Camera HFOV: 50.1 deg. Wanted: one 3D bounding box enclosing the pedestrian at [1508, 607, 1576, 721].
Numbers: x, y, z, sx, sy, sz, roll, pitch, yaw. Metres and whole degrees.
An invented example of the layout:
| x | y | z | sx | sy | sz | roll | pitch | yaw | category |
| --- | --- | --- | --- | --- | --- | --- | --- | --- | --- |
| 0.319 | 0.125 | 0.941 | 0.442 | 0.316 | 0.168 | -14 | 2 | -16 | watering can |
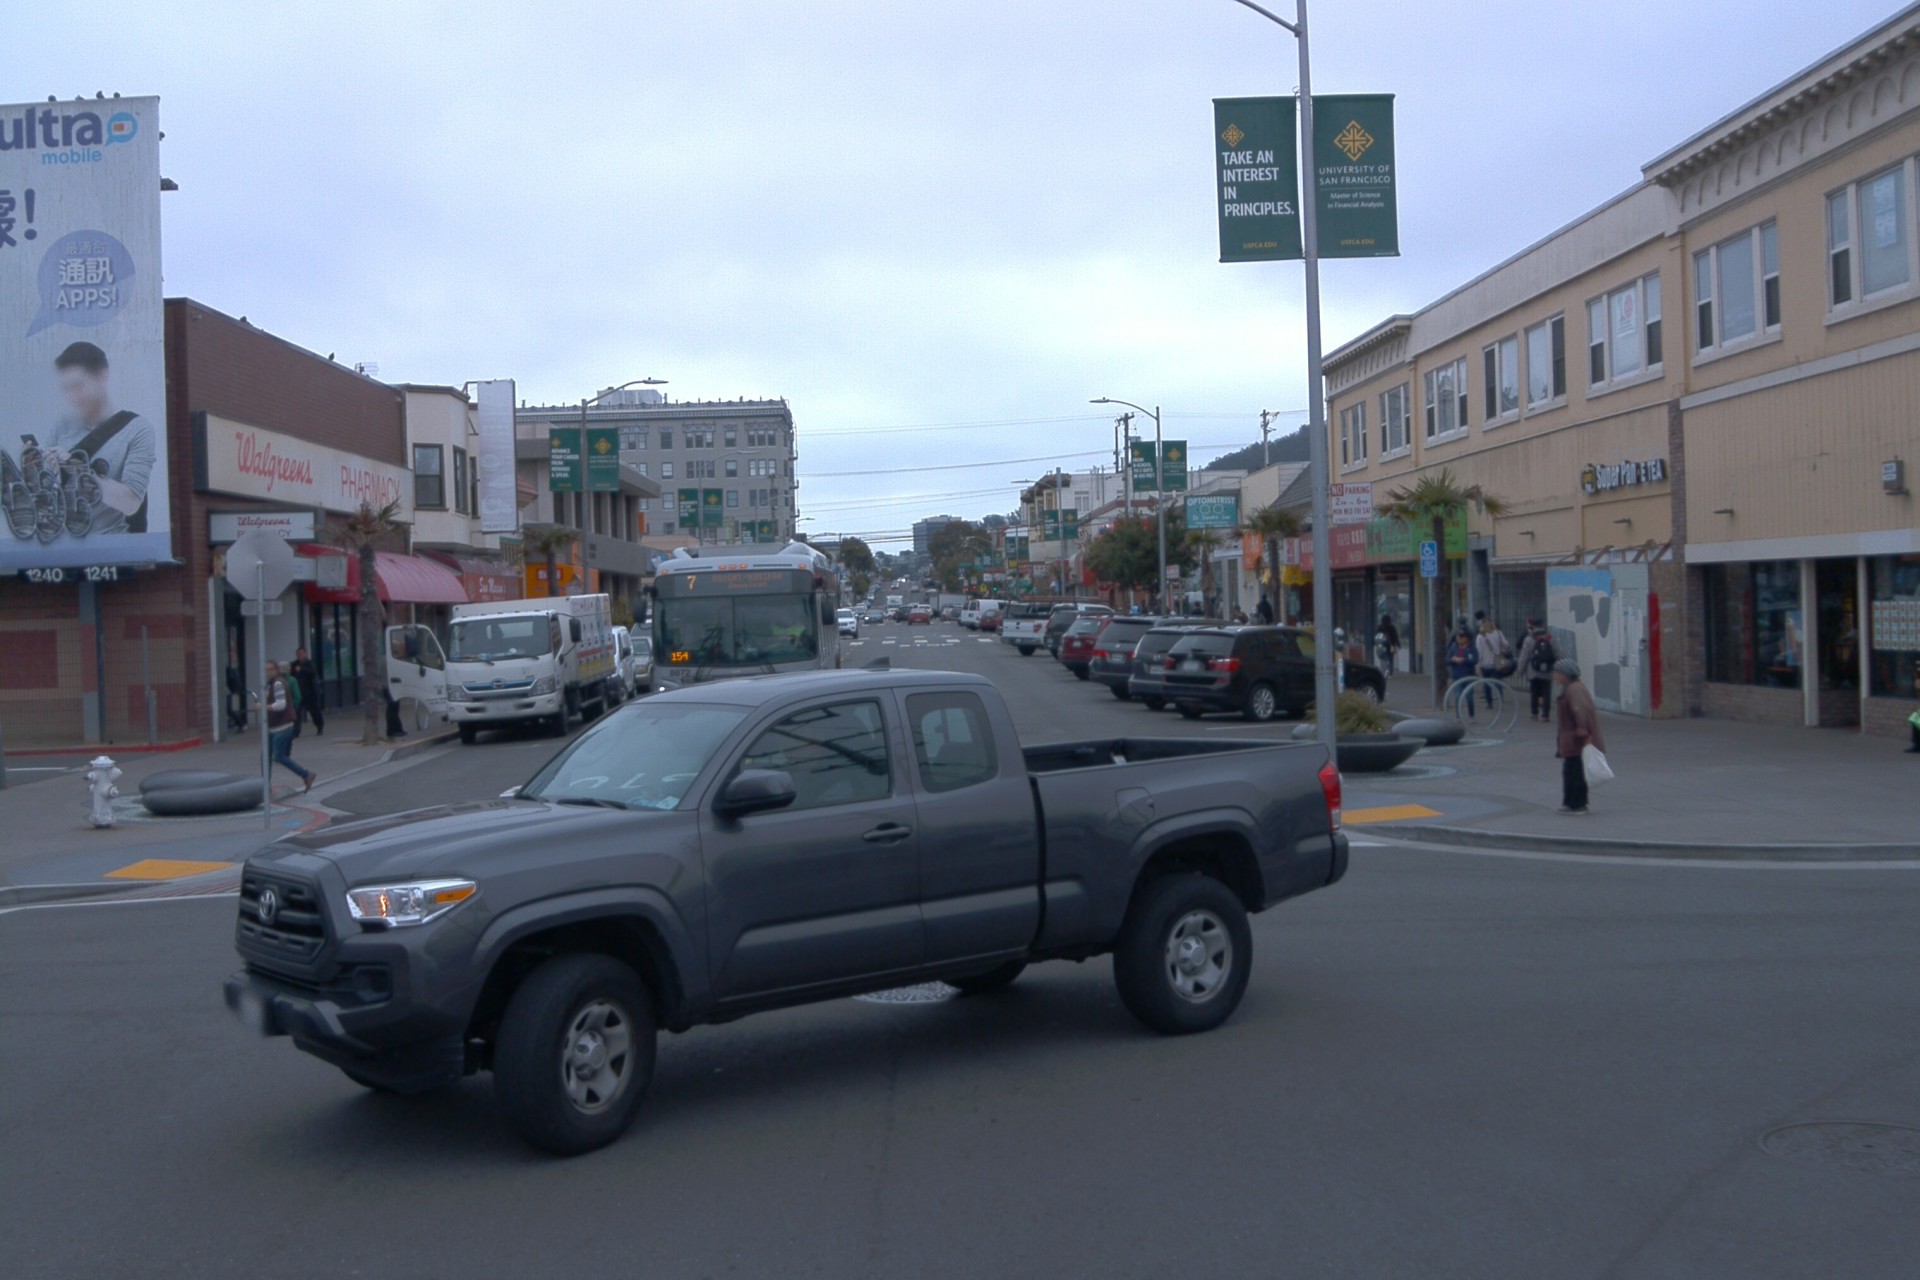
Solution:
| x | y | z | sx | sy | sz | roll | pitch | yaw | category |
| --- | --- | --- | --- | --- | --- | --- | --- | --- | --- |
| 9.220 | 0.364 | 32.590 | 0.925 | 1.770 | 0.948 | 0 | 1 | 9 | pedestrian |

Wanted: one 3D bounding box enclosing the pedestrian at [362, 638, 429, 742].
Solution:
| x | y | z | sx | sy | sz | roll | pitch | yaw | category |
| --- | --- | --- | --- | --- | --- | --- | --- | --- | --- |
| -10.175 | 0.896 | 37.107 | 0.945 | 1.830 | 0.918 | 0 | 1 | 0 | pedestrian |

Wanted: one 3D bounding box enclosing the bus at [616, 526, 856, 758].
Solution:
| x | y | z | sx | sy | sz | roll | pitch | yaw | category |
| --- | --- | --- | --- | --- | --- | --- | --- | --- | --- |
| -3.696 | -0.066 | 37.275 | 3.213 | 3.480 | 12.597 | 0 | 1 | -1 | bus |

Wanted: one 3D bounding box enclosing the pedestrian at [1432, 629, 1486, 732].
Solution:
| x | y | z | sx | sy | sz | roll | pitch | yaw | category |
| --- | --- | --- | --- | --- | --- | --- | --- | --- | --- |
| 7.928 | 0.626 | 32.645 | 0.750 | 1.598 | 0.775 | 0 | 1 | 21 | pedestrian |

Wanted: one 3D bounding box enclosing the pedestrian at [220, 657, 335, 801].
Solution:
| x | y | z | sx | sy | sz | roll | pitch | yaw | category |
| --- | --- | --- | --- | --- | --- | --- | --- | --- | --- |
| -8.907 | 1.151 | 26.895 | 1.261 | 1.820 | 0.885 | 0 | 1 | -6 | pedestrian |

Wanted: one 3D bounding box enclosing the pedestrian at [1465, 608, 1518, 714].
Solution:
| x | y | z | sx | sy | sz | roll | pitch | yaw | category |
| --- | --- | --- | --- | --- | --- | --- | --- | --- | --- |
| 9.260 | 0.360 | 35.876 | 0.711 | 1.824 | 0.916 | 0 | 1 | 2 | pedestrian |

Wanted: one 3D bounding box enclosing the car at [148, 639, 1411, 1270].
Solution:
| x | y | z | sx | sy | sz | roll | pitch | yaw | category |
| --- | --- | --- | --- | --- | --- | --- | --- | --- | --- |
| -0.547 | 1.048 | 9.337 | 5.447 | 2.008 | 2.071 | -1 | 1 | -38 | car |

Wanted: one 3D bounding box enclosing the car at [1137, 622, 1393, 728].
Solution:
| x | y | z | sx | sy | sz | roll | pitch | yaw | category |
| --- | --- | --- | --- | --- | --- | --- | --- | --- | --- |
| 5.511 | 0.567 | 36.887 | 4.510 | 1.740 | 2.044 | -1 | 1 | -39 | car |

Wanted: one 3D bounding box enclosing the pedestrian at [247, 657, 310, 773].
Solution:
| x | y | z | sx | sy | sz | roll | pitch | yaw | category |
| --- | --- | --- | --- | --- | --- | --- | --- | --- | --- |
| -10.451 | 1.135 | 31.556 | 0.766 | 1.713 | 1.104 | 0 | 1 | -11 | pedestrian |

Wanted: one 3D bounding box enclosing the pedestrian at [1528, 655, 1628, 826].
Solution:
| x | y | z | sx | sy | sz | roll | pitch | yaw | category |
| --- | --- | --- | --- | --- | --- | --- | --- | --- | --- |
| 5.624 | 0.890 | 18.763 | 0.832 | 1.477 | 1.067 | 0 | 1 | 15 | pedestrian |
